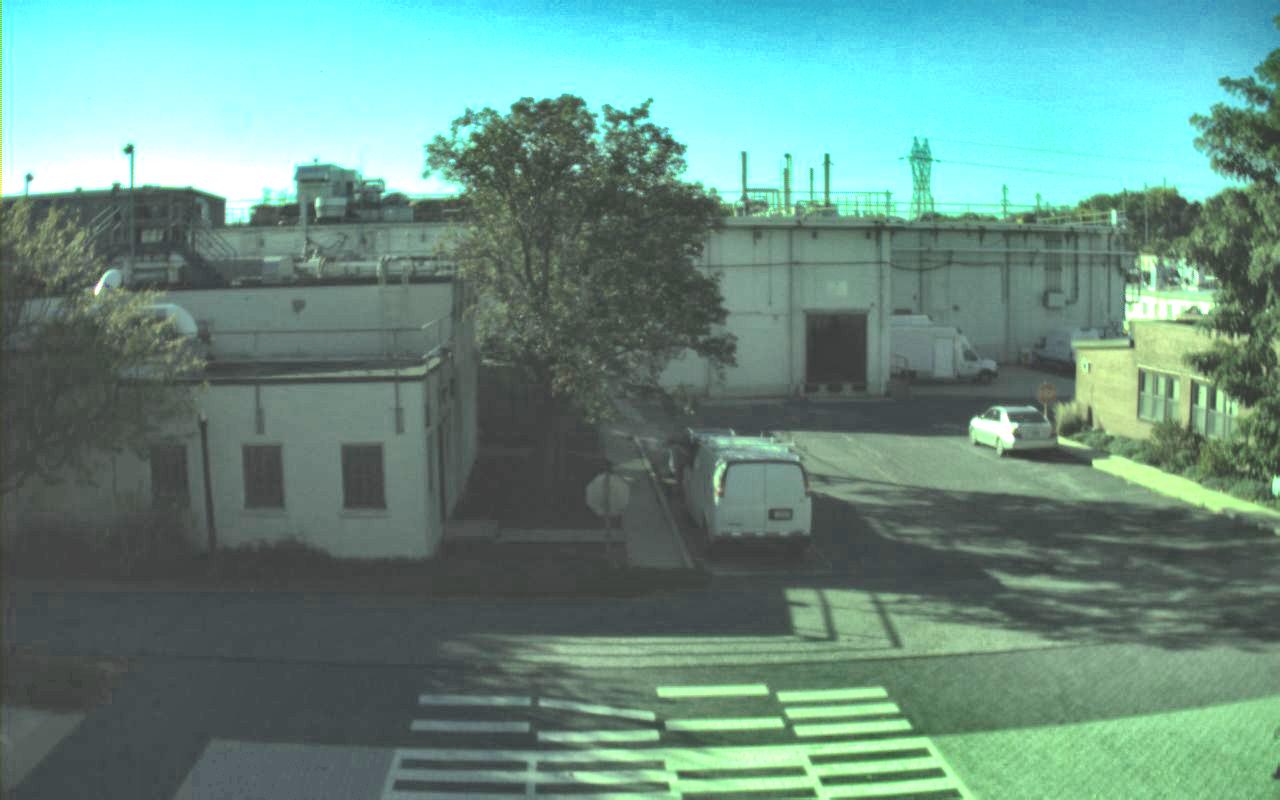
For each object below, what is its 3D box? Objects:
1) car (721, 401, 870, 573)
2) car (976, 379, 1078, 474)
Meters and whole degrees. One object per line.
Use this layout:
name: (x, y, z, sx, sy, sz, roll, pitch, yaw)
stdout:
car: (2.889, 1.564, 24.399, 2.054, 1.716, 4.719, -2, 17, -4)
car: (12.535, 0.826, 39.662, 1.987, 1.683, 4.630, -1, 17, -1)
